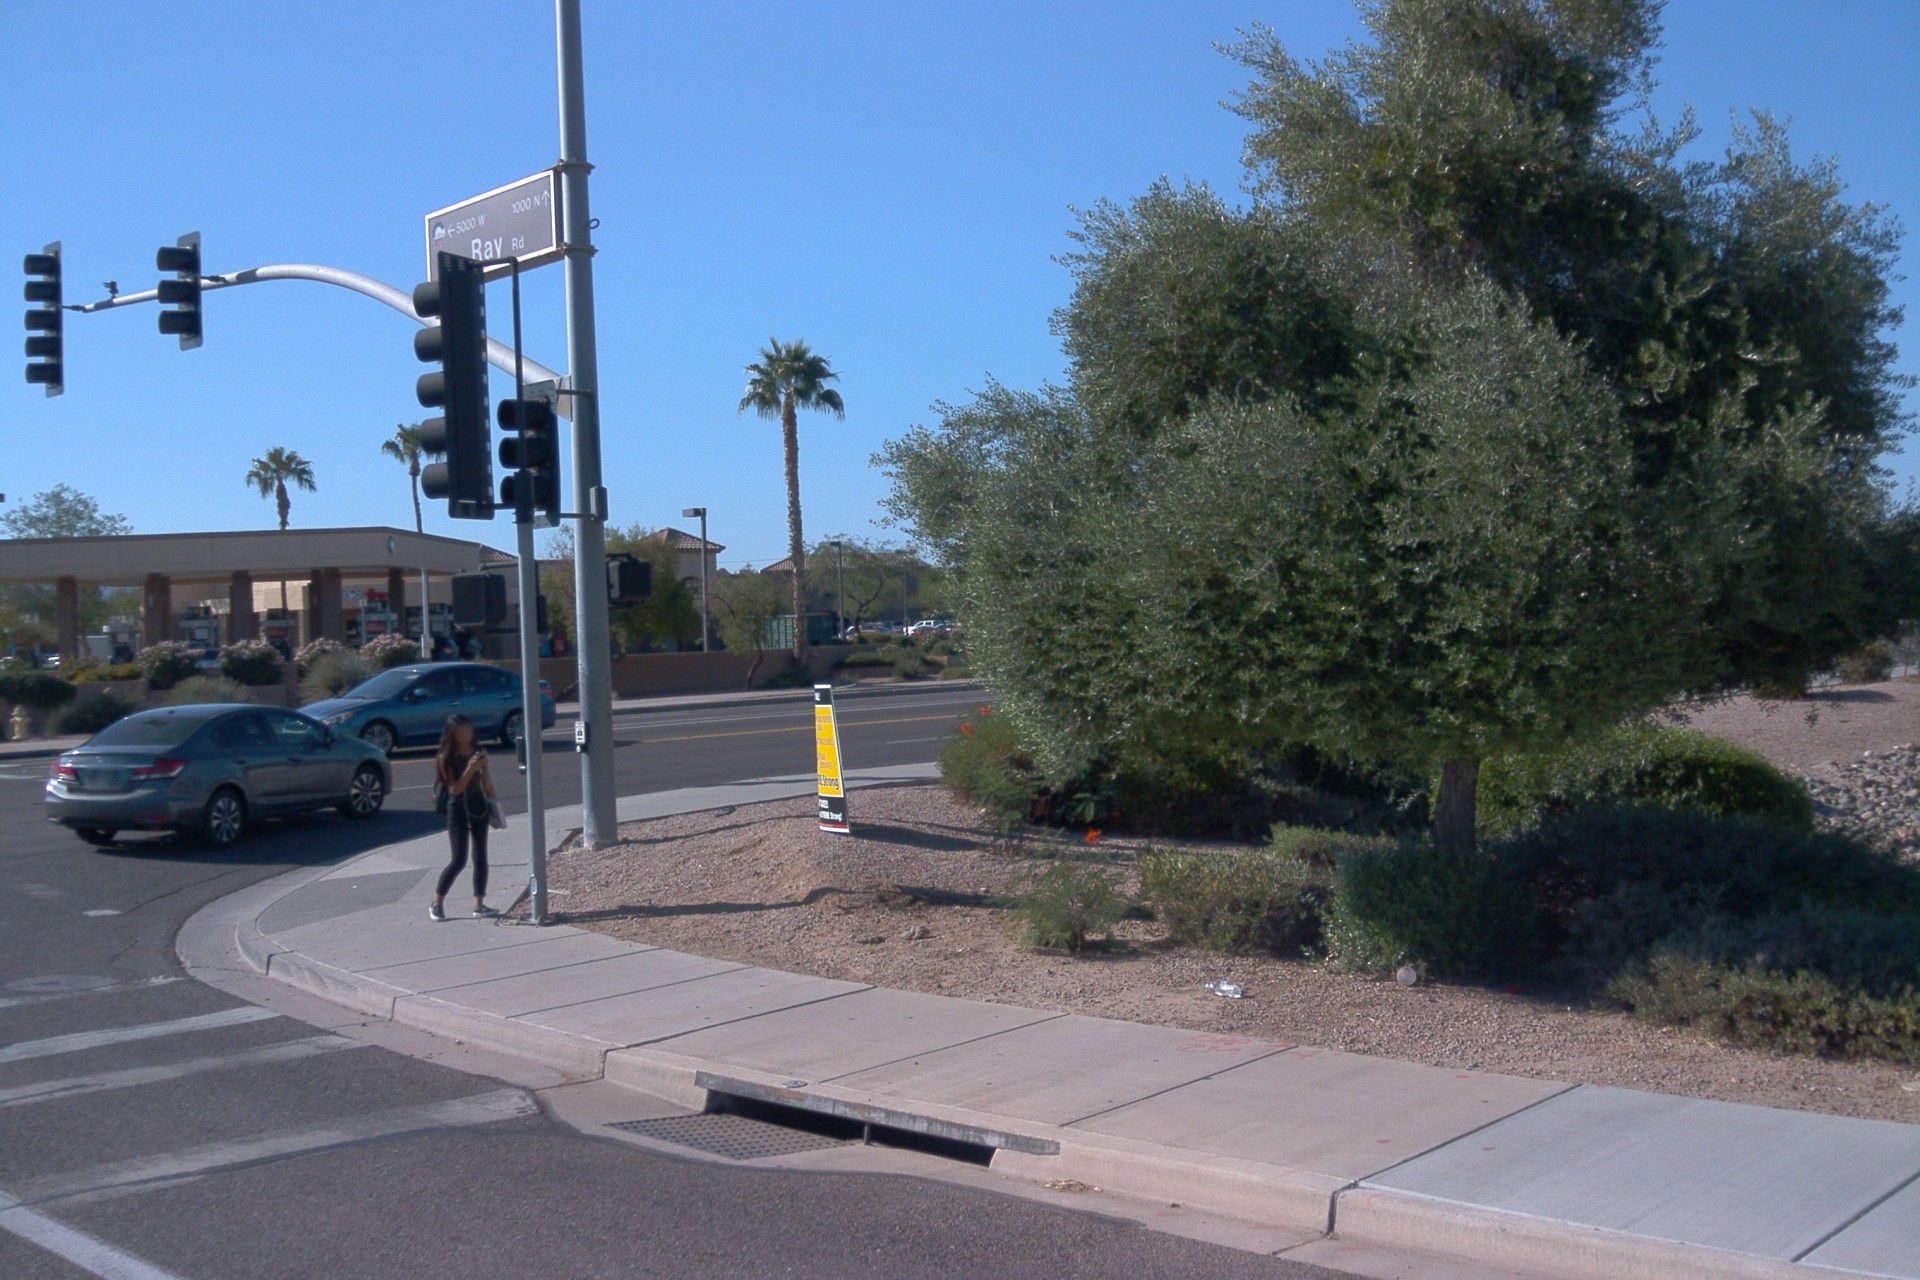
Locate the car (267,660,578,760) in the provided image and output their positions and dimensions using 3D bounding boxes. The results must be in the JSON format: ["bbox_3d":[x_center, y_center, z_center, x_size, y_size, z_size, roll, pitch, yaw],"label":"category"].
[{"bbox_3d":[-8.781,1.112,34.306,2.029,1.510,4.598,-2,-1,42],"label":"car"}]

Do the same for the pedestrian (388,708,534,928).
[{"bbox_3d":[-3.768,1.316,15.720,0.904,1.590,0.668,-1,-1,43],"label":"pedestrian"}]
